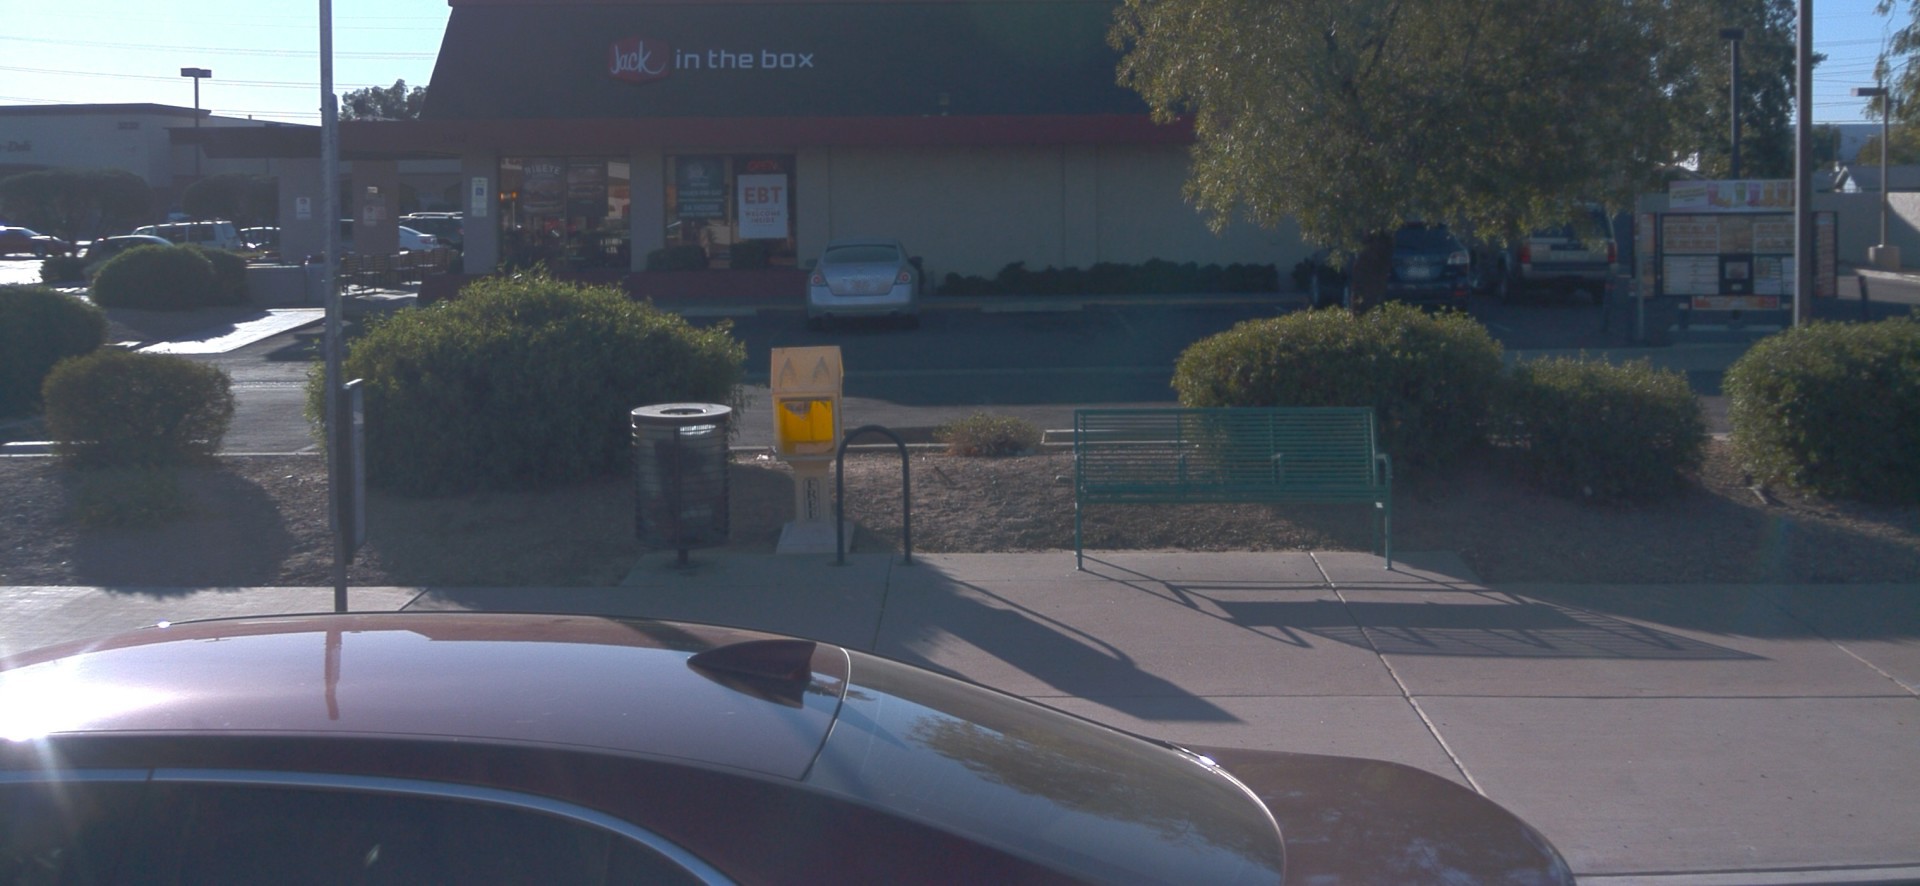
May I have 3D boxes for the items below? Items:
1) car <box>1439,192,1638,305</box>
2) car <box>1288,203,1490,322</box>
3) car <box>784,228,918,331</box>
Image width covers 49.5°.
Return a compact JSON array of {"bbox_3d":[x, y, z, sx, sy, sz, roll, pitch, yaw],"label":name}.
[{"bbox_3d":[10.337,-3.507,37.646,2.142,1.894,5.075,0,5,-1],"label":"car"},{"bbox_3d":[6.980,-3.002,34.468,2.187,1.814,4.819,0,5,-2],"label":"car"},{"bbox_3d":[-1.755,-2.756,34.708,2.061,1.575,4.979,0,5,-2],"label":"car"}]
